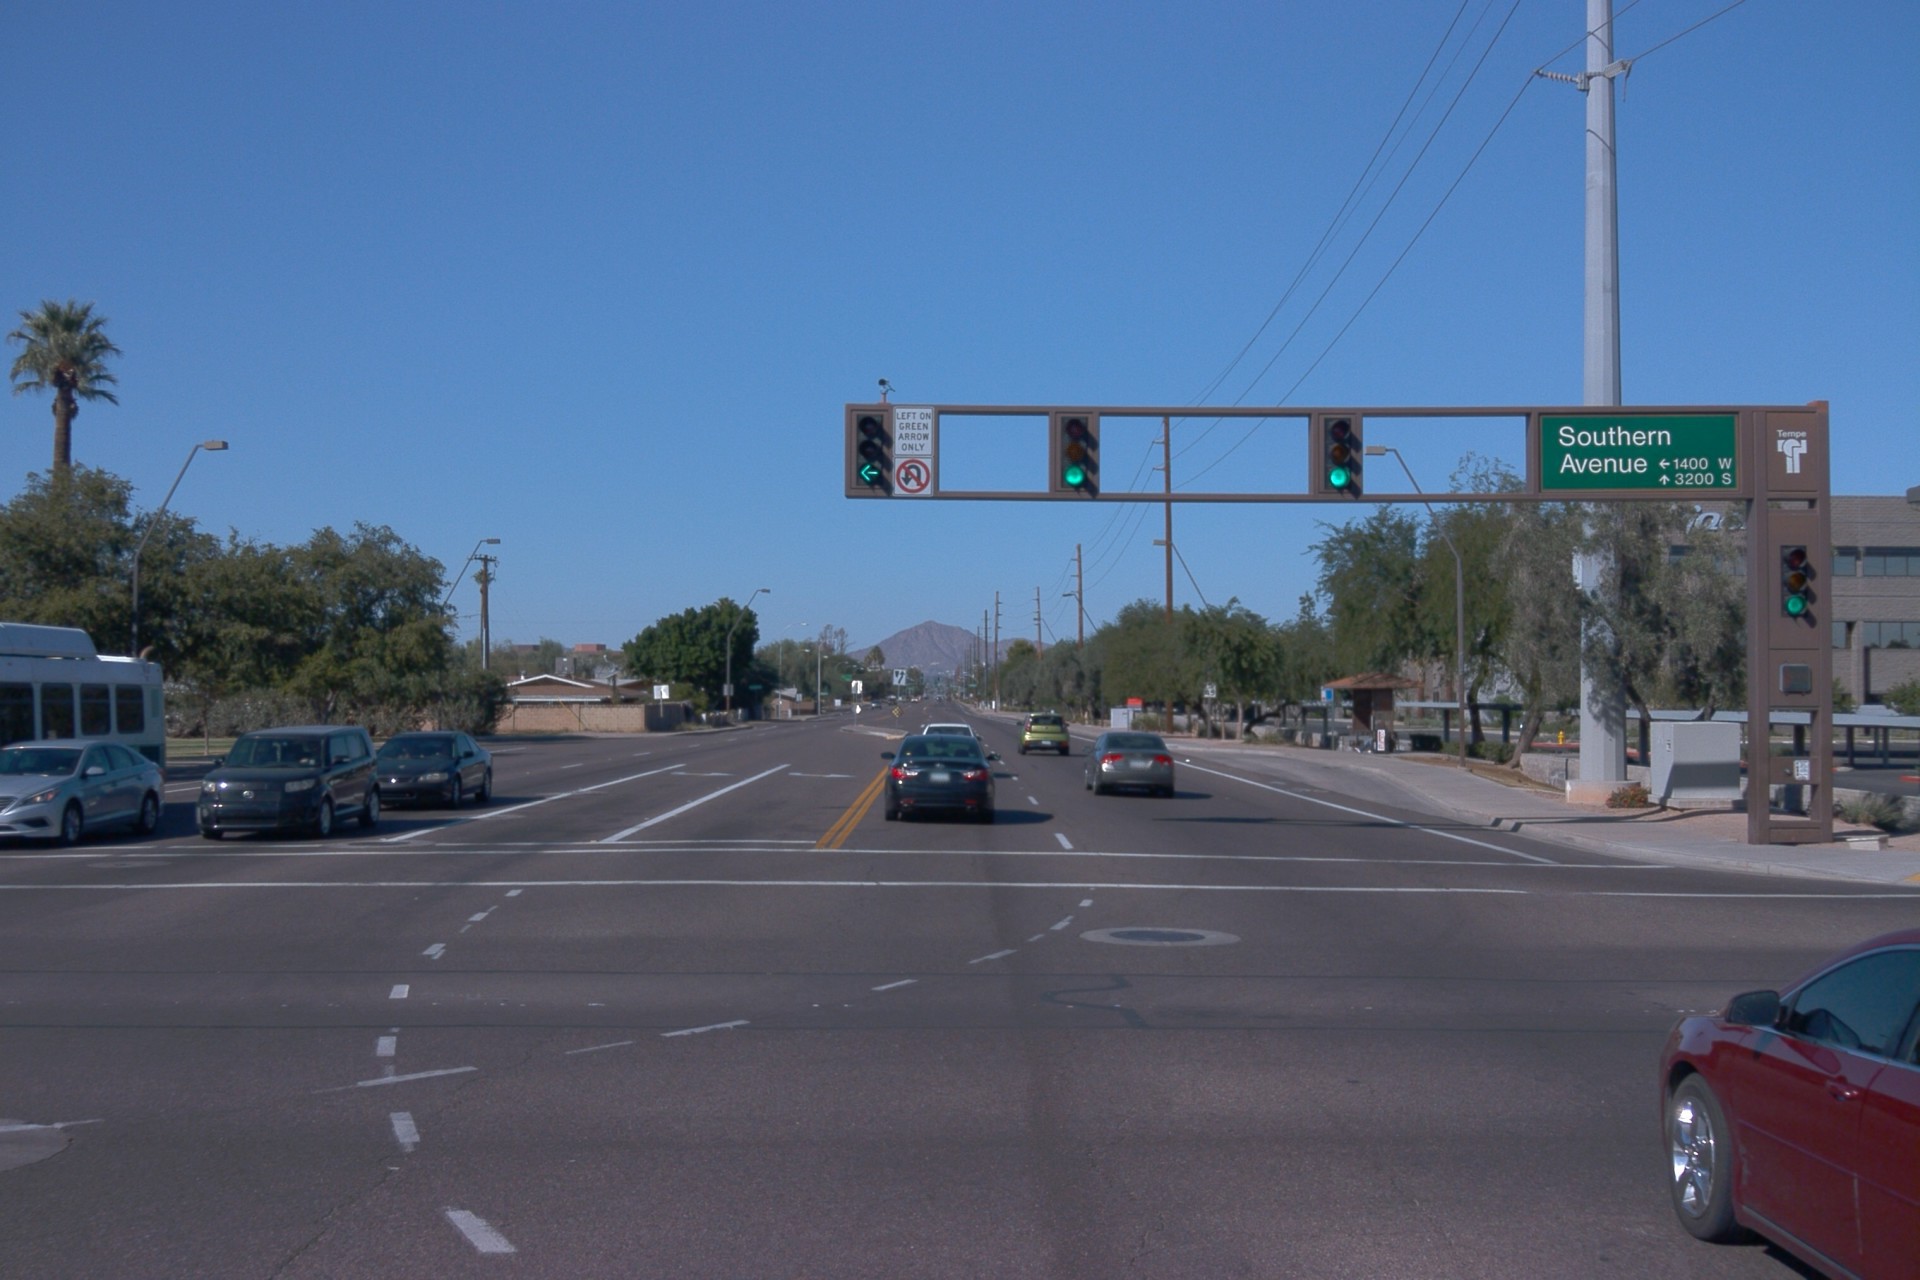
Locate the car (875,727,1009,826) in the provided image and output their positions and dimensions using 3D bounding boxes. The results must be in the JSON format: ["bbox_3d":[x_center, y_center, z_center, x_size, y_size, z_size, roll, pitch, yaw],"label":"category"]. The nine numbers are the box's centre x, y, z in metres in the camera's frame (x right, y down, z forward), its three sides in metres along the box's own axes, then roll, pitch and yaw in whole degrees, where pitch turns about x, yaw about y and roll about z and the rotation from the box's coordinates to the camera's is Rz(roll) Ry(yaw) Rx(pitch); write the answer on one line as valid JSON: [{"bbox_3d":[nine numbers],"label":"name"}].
[{"bbox_3d":[-0.286,2.299,35.766,2.157,1.470,4.805,0,-1,0],"label":"car"}]

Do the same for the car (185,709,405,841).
[{"bbox_3d":[-9.932,1.973,31.288,1.983,1.790,4.260,0,-1,-1],"label":"car"}]
